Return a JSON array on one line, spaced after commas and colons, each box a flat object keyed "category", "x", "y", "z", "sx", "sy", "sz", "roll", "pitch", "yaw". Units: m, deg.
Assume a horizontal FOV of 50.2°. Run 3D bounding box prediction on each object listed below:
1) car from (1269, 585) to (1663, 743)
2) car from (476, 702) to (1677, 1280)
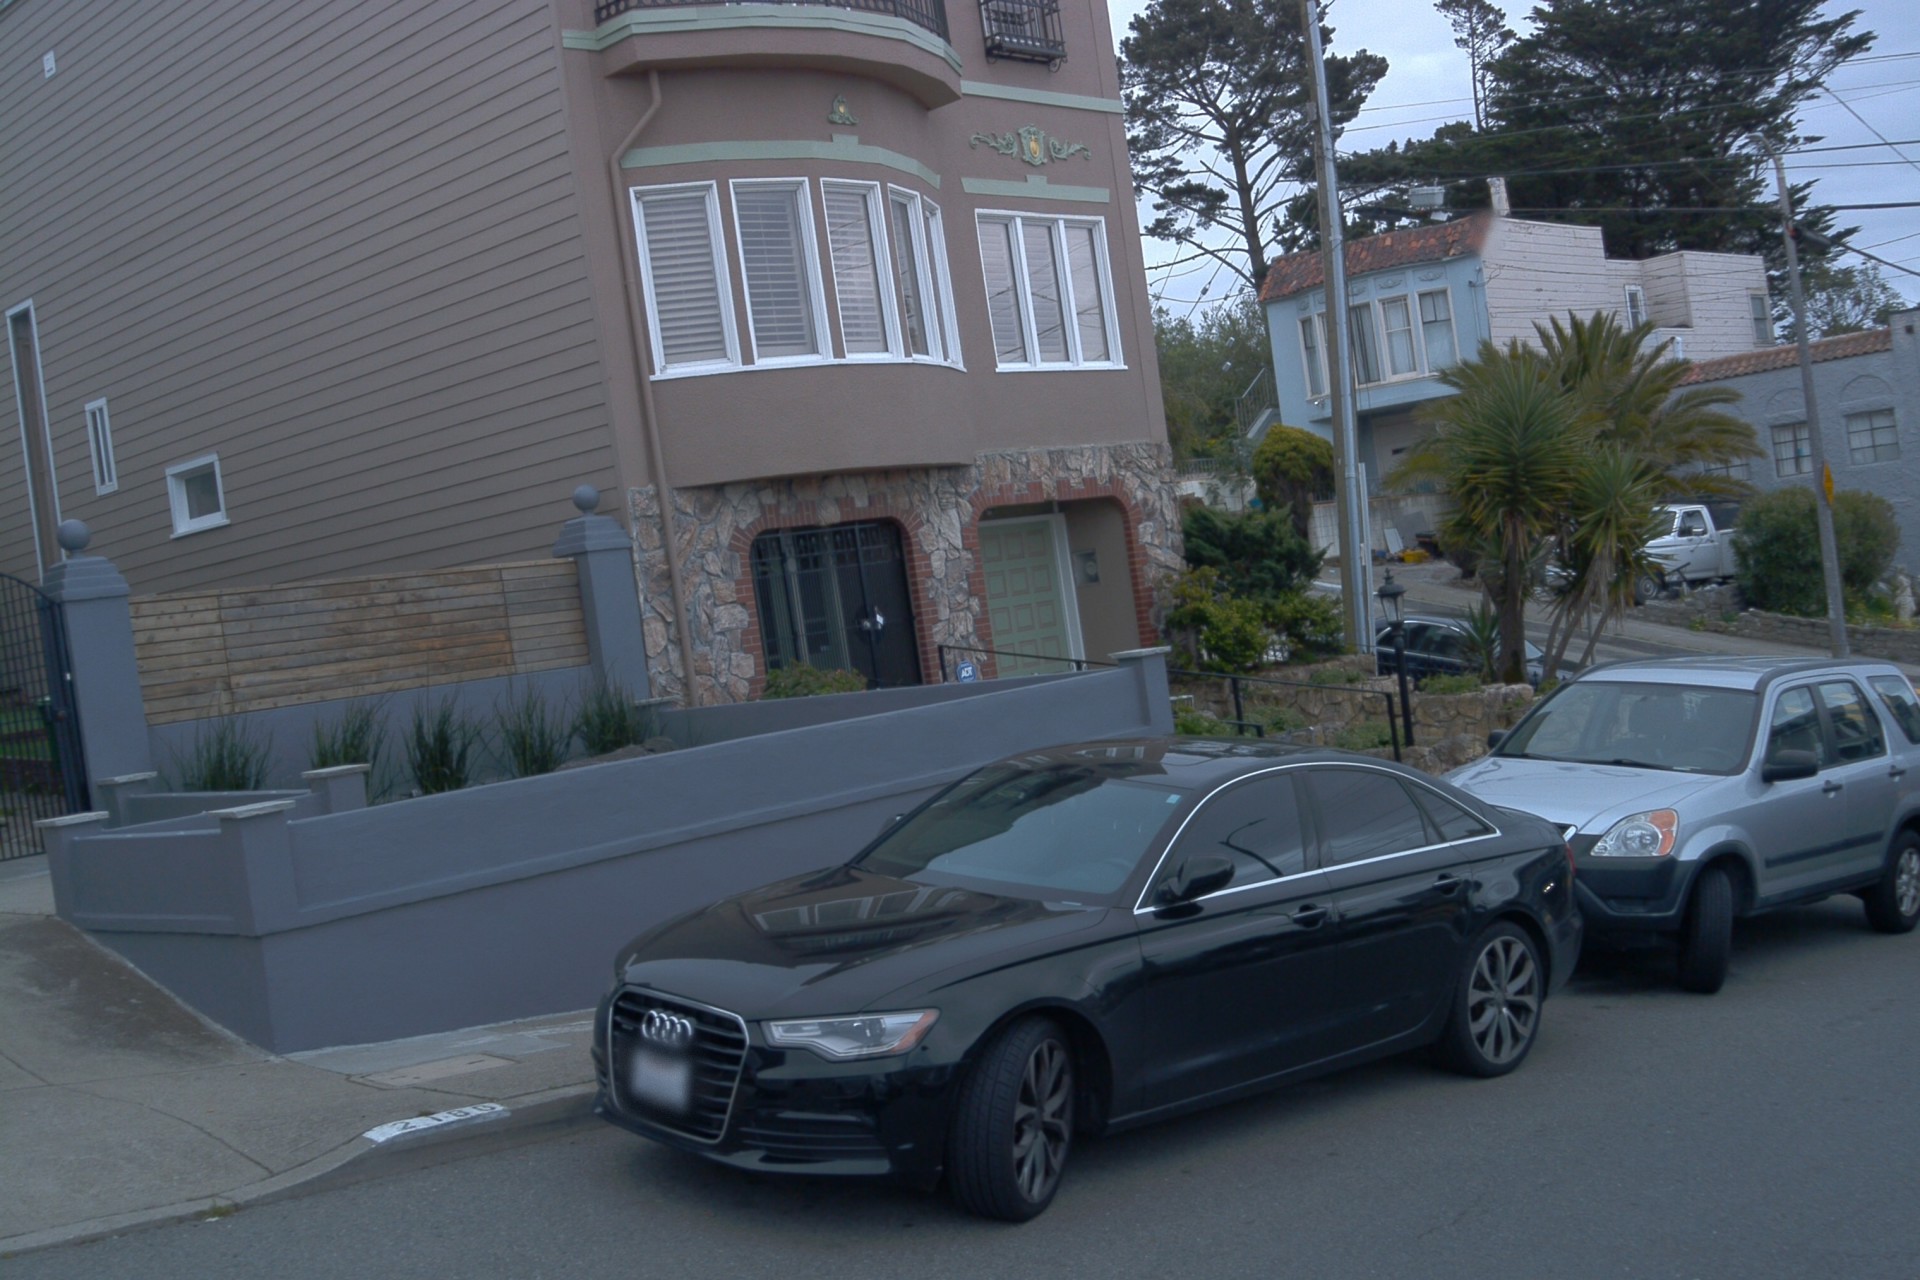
[{"category": "car", "x": 6.533, "y": 0.258, "z": 26.770, "sx": 4.569, "sy": 1.890, "sz": 2.007, "roll": 1, "pitch": 1, "yaw": 41}, {"category": "car", "x": 0.766, "y": 1.247, "z": 8.454, "sx": 5.043, "sy": 1.790, "sz": 2.004, "roll": 0, "pitch": 1, "yaw": -43}]
